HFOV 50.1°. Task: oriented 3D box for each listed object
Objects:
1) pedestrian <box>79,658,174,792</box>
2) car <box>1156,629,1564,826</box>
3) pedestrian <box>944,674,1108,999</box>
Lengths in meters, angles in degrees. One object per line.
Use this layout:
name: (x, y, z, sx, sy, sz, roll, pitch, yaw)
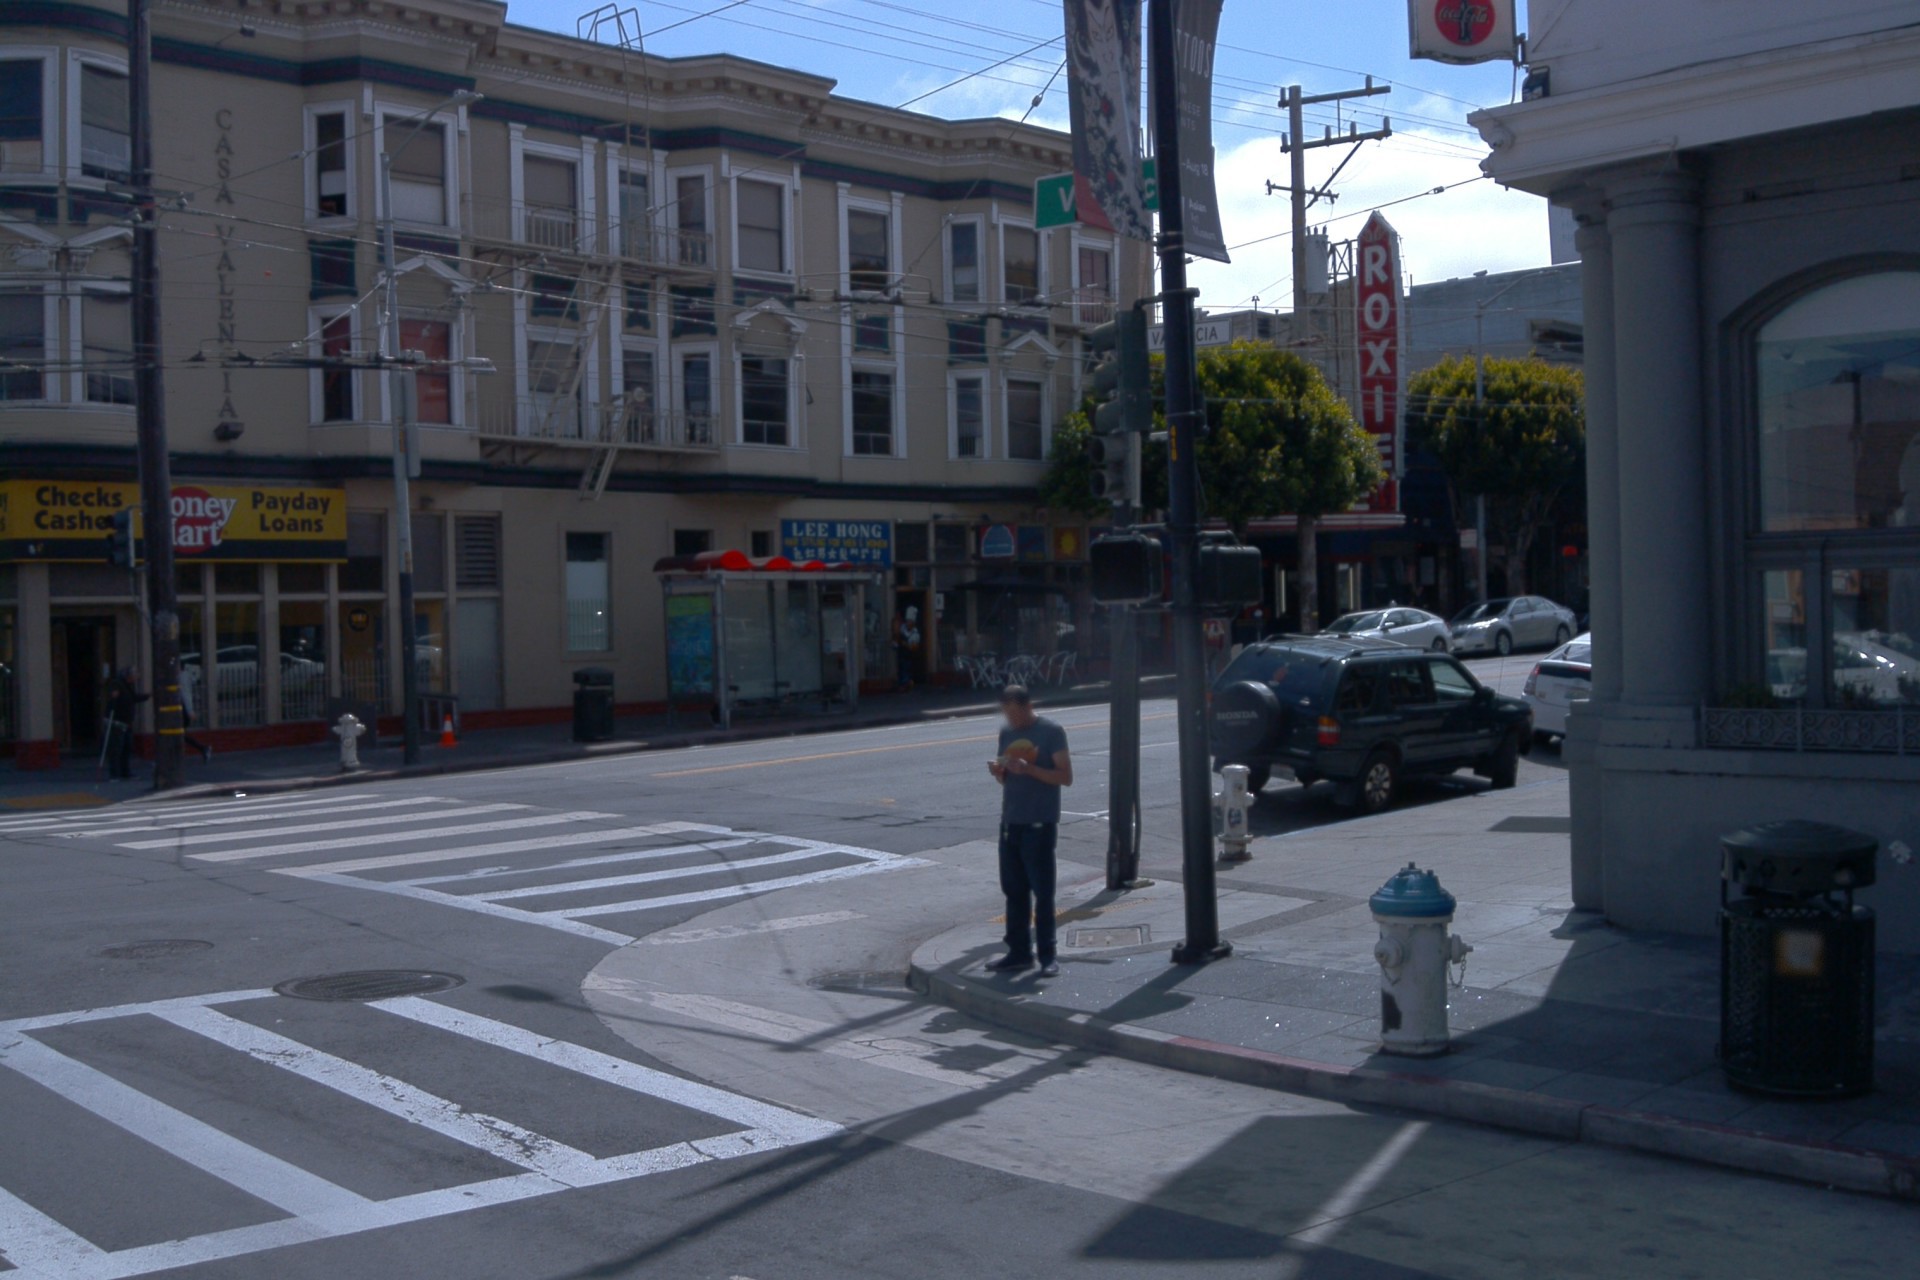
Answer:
pedestrian: (-11.627, 1.155, 28.648, 0.995, 1.790, 1.336, 0, 0, -32)
car: (4.399, 0.828, 22.144, 2.130, 1.870, 4.629, 0, 1, 44)
pedestrian: (0.403, 1.163, 12.576, 0.690, 1.880, 0.721, 0, 0, -42)
